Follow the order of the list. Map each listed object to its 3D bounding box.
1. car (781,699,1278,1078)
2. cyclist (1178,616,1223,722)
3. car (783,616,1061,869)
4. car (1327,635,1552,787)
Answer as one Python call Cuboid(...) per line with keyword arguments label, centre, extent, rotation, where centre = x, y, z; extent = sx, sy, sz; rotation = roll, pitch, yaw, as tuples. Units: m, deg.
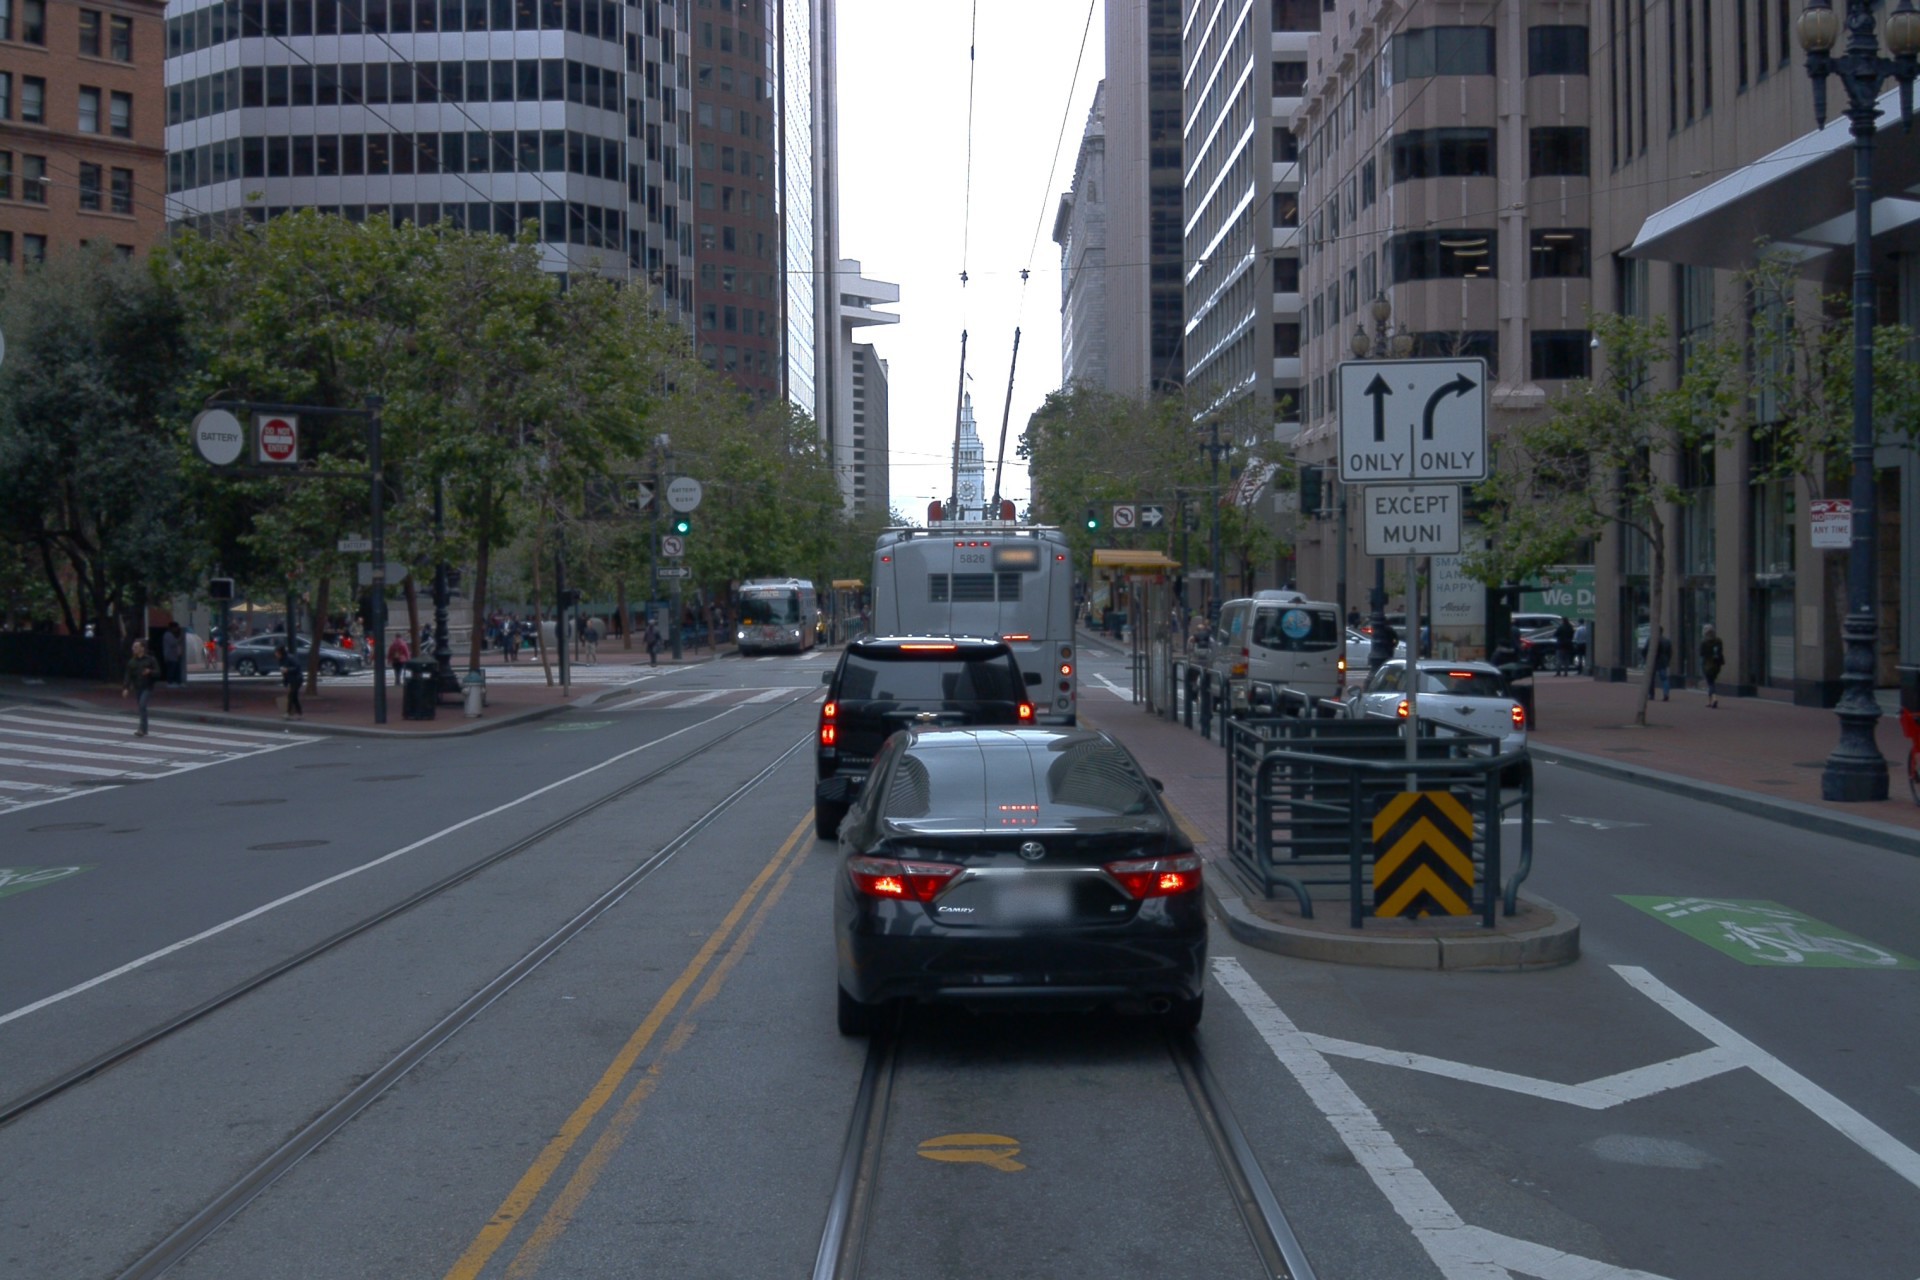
Cuboid(label="car", centre=(0.202, 1.161, 11.459), extent=(2.188, 1.460, 4.687), rotation=(0, 1, -3))
Cuboid(label="cyclist", centre=(4.395, 0.513, 37.794), extent=(0.638, 1.900, 1.439), rotation=(0, 1, 0))
Cuboid(label="car", centre=(-0.295, 0.826, 19.992), extent=(2.308, 2.100, 5.442), rotation=(0, 1, 1))
Cuboid(label="car", centre=(6.152, 0.857, 26.978), extent=(2.075, 1.784, 3.877), rotation=(0, 1, 1))
